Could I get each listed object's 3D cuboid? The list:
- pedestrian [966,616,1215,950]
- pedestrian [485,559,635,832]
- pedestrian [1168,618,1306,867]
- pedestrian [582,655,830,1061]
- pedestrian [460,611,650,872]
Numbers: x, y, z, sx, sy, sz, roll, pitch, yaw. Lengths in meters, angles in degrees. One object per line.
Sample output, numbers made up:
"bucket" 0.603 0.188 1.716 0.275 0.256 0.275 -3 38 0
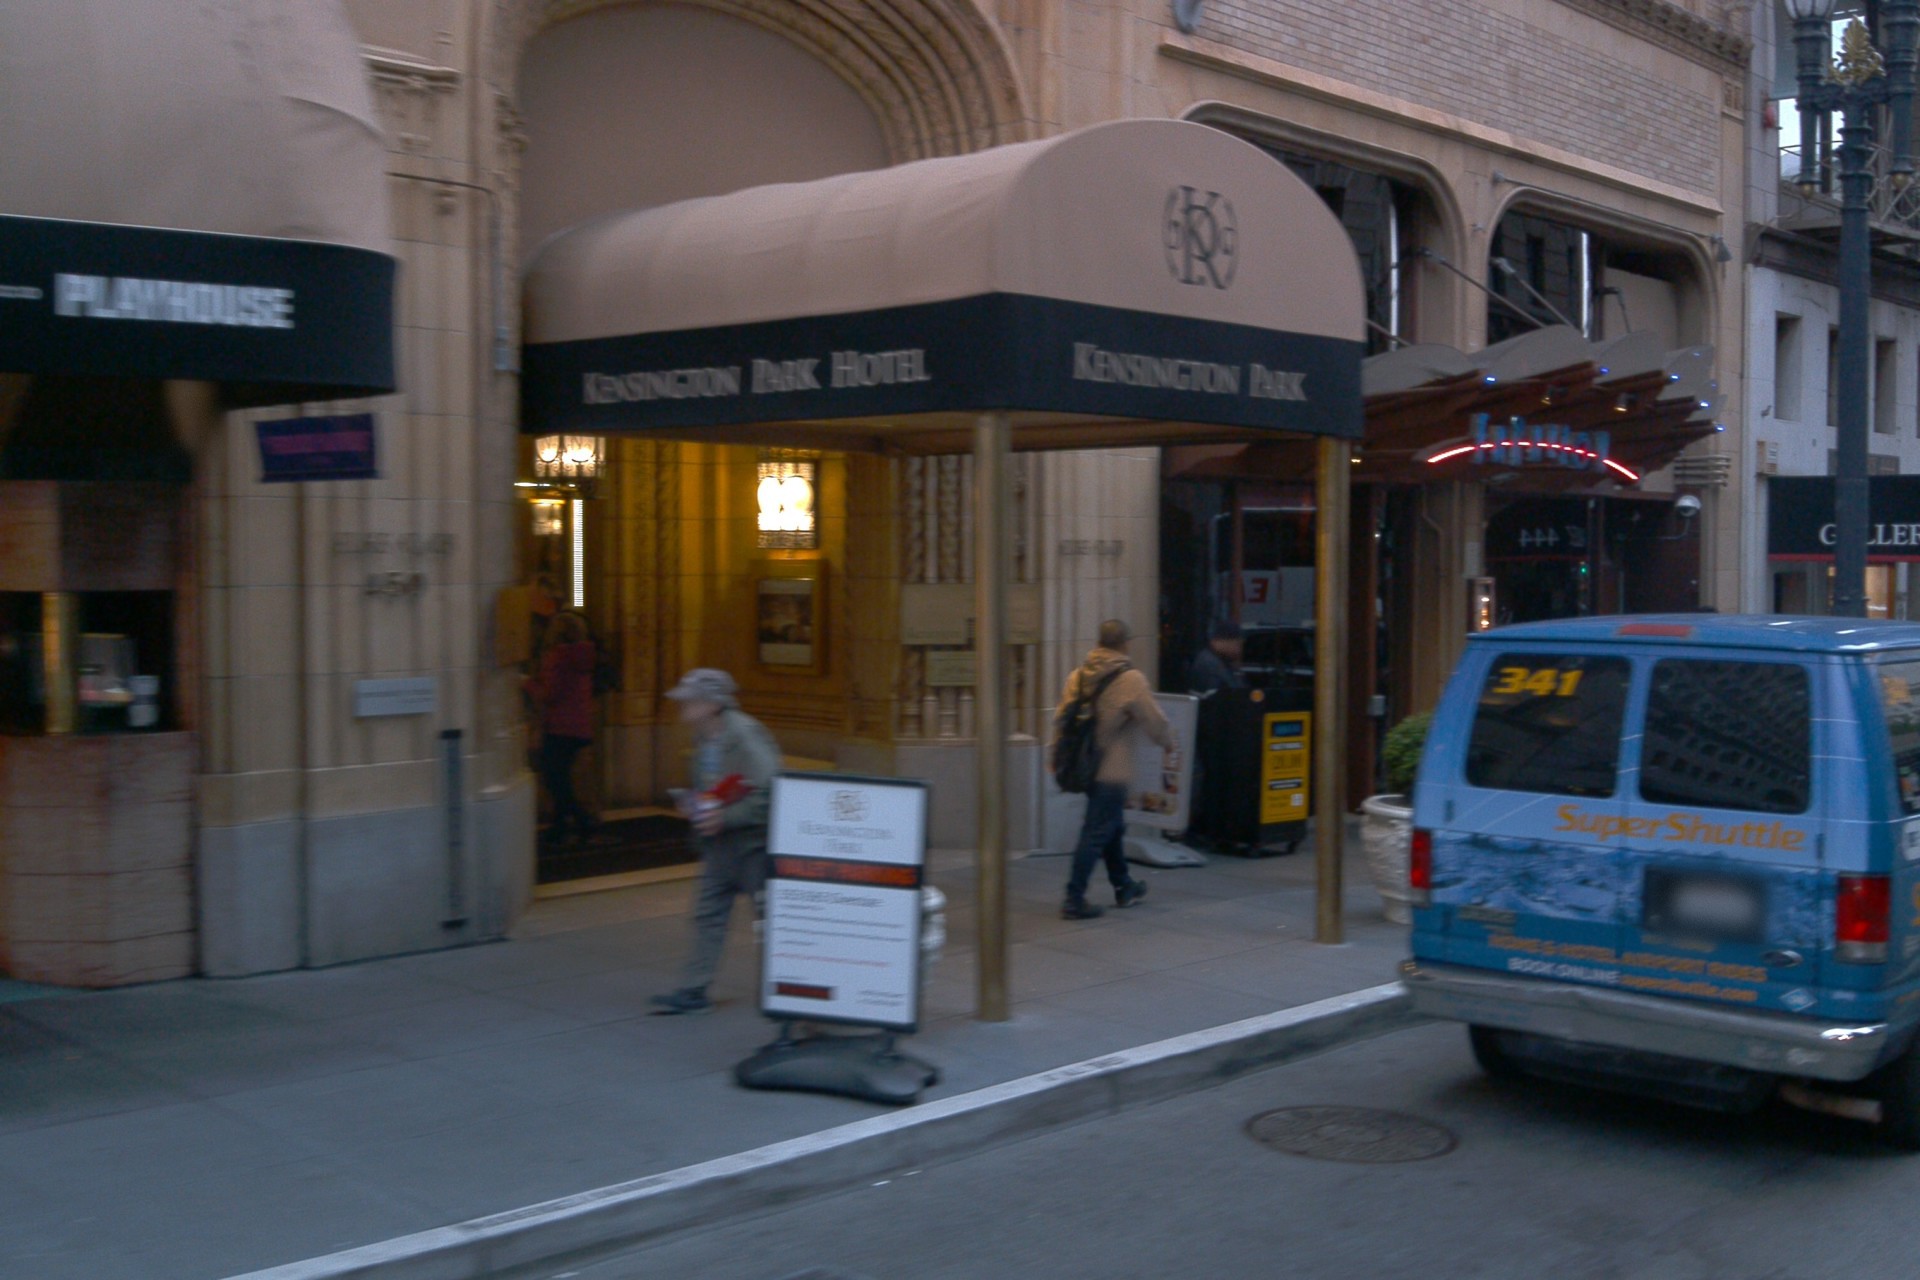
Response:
"pedestrian" 0.726 0.736 11.351 0.910 1.730 1.055 1 1 41
"pedestrian" -2.719 0.358 13.921 0.718 1.790 0.701 1 1 39
"pedestrian" 1.984 0.702 14.638 0.715 1.710 0.721 1 1 35
"pedestrian" -1.084 0.881 8.757 0.717 1.610 0.768 1 1 44
"pedestrian" -2.609 0.621 13.227 0.876 1.610 0.823 1 1 31
